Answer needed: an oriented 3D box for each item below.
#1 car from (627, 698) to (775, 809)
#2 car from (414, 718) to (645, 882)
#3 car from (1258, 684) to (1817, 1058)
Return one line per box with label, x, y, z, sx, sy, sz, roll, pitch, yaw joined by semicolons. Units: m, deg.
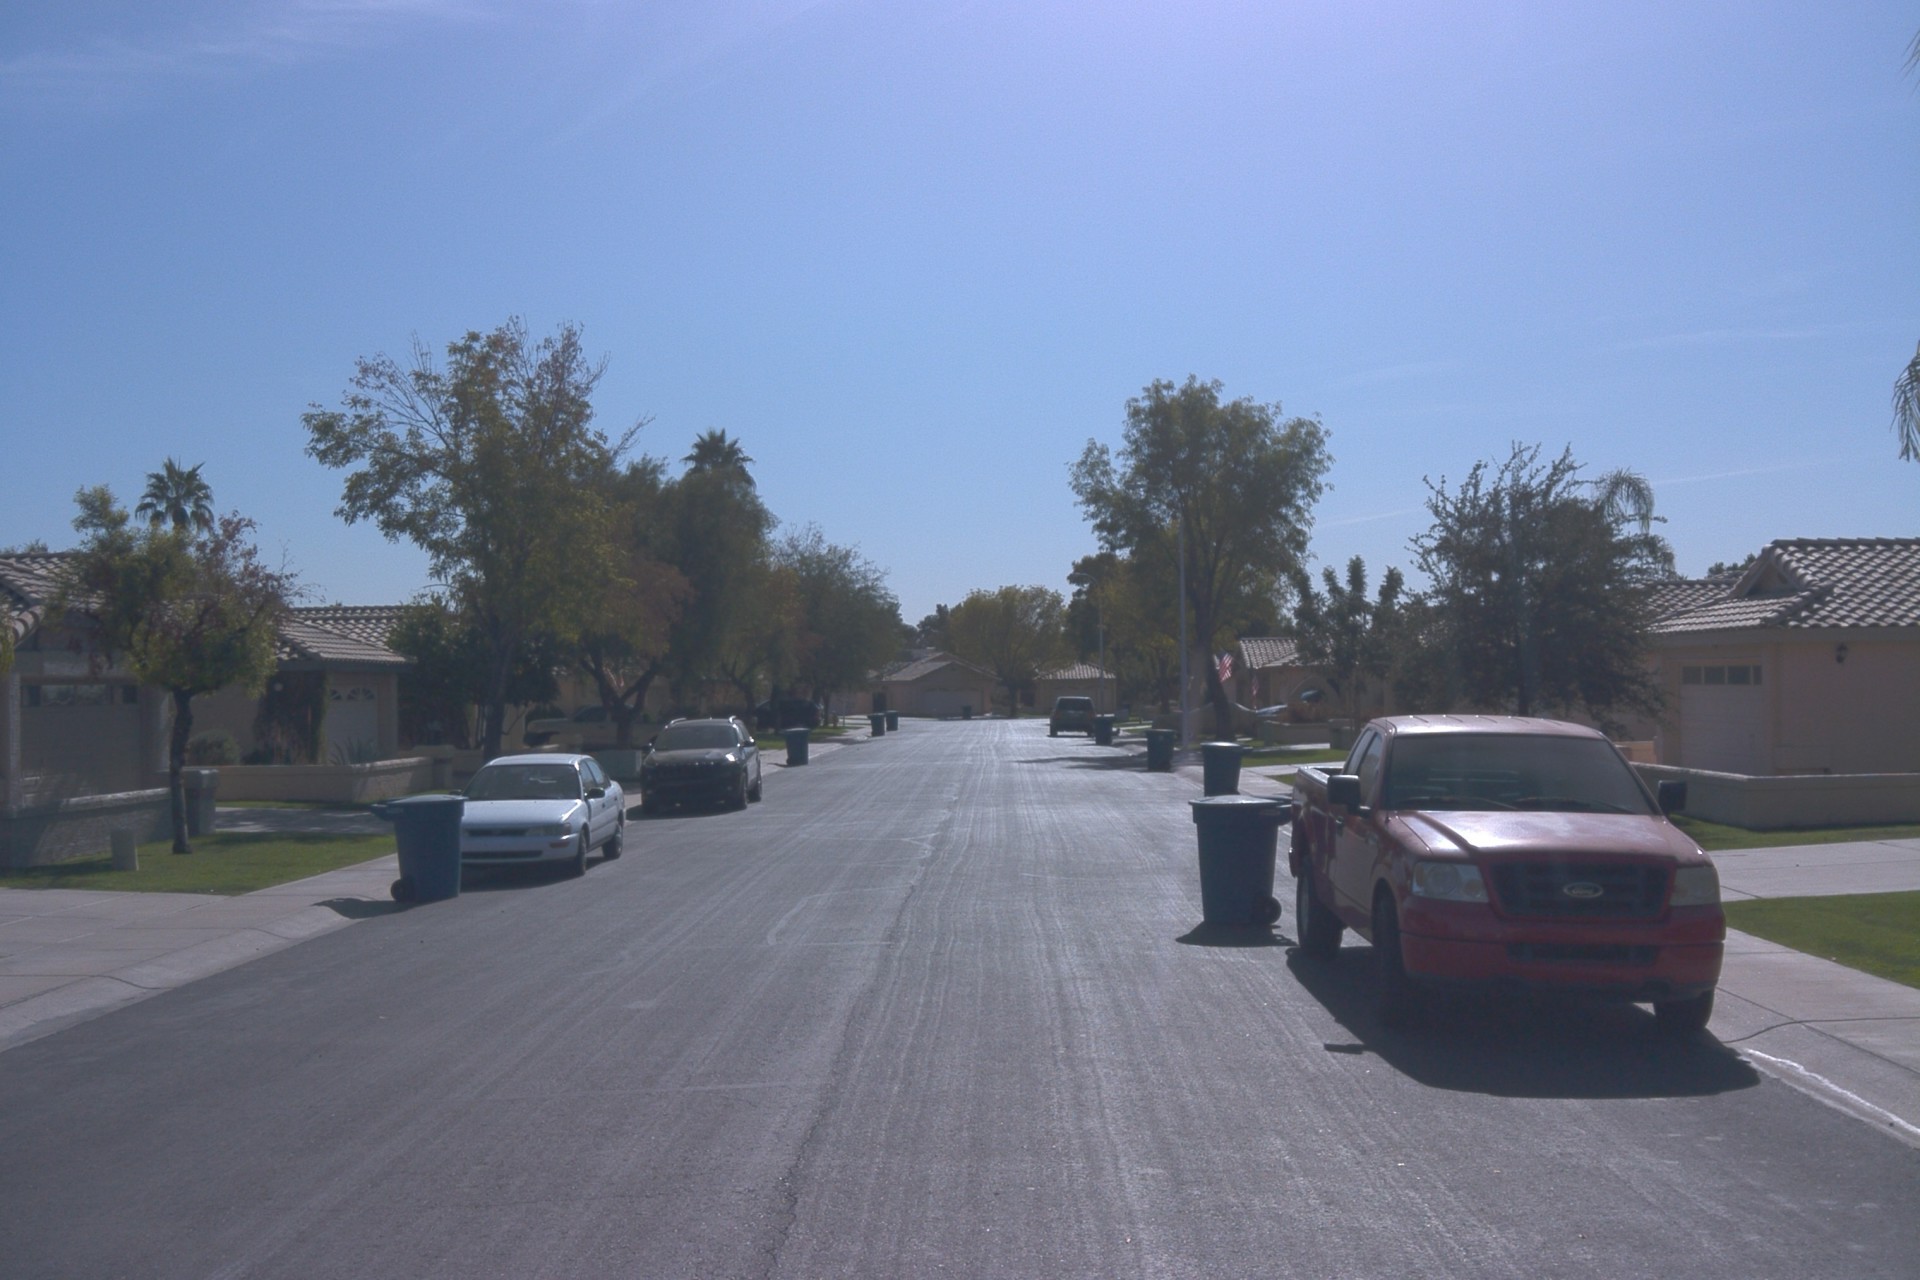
car;-4.694;2.022;38.034;2.082;1.820;4.660;0;0;1
car;-5.124;1.865;25.143;1.886;1.690;4.364;0;0;0
car;3.589;1.333;14.157;2.439;1.980;5.478;0;0;2
